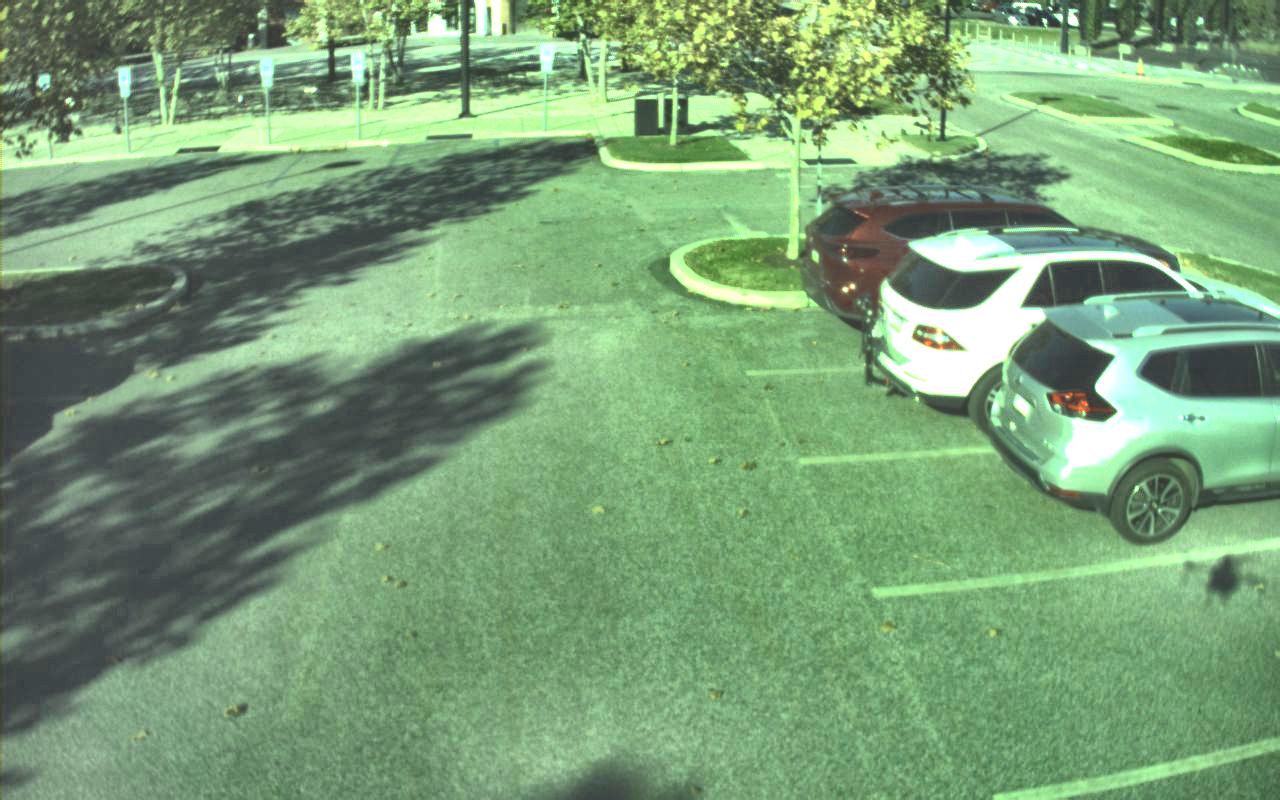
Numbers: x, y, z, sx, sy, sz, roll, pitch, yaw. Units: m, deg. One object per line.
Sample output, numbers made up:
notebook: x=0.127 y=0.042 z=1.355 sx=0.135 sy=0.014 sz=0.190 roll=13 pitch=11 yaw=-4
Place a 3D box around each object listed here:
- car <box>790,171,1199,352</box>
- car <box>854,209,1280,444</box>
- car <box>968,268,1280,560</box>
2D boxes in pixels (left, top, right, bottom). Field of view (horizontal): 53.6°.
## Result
car: x=4.355 y=-1.804 z=14.940 sx=4.758 sy=1.781 sz=2.038 roll=-3 pitch=16 yaw=-6
car: x=4.660 y=-0.889 z=12.216 sx=4.654 sy=1.797 sz=2.023 roll=-3 pitch=16 yaw=-8
car: x=5.159 y=-0.028 z=9.763 sx=4.461 sy=1.765 sz=1.968 roll=-2 pitch=16 yaw=-5
